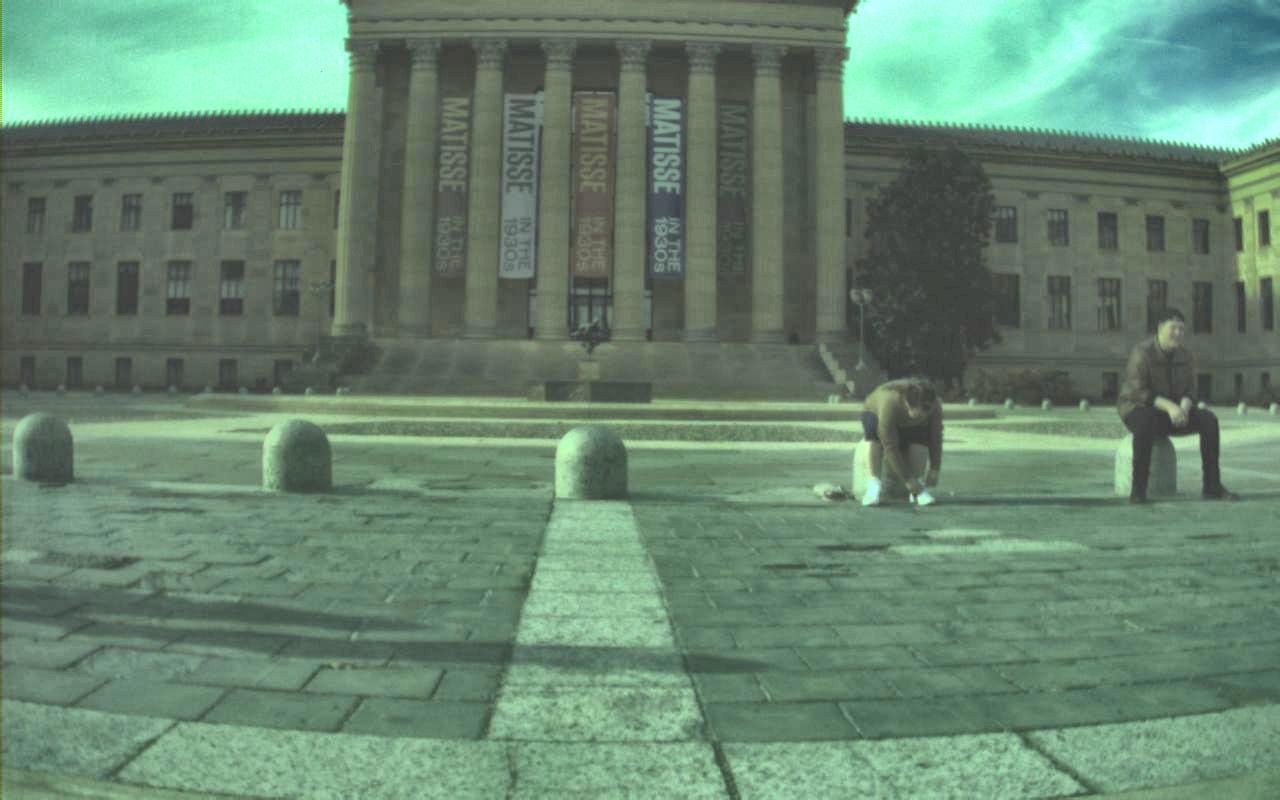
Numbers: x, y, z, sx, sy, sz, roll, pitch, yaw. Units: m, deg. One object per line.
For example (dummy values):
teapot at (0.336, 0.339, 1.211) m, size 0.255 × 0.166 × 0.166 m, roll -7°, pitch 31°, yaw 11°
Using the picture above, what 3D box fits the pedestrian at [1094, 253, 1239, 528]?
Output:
pedestrian at (3.510, -0.053, 7.814) m, size 0.772 × 1.738 × 0.782 m, roll 0°, pitch 0°, yaw 2°

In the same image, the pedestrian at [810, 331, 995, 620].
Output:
pedestrian at (1.618, 0.434, 7.670) m, size 0.809 × 1.678 × 0.835 m, roll 0°, pitch 0°, yaw -21°
